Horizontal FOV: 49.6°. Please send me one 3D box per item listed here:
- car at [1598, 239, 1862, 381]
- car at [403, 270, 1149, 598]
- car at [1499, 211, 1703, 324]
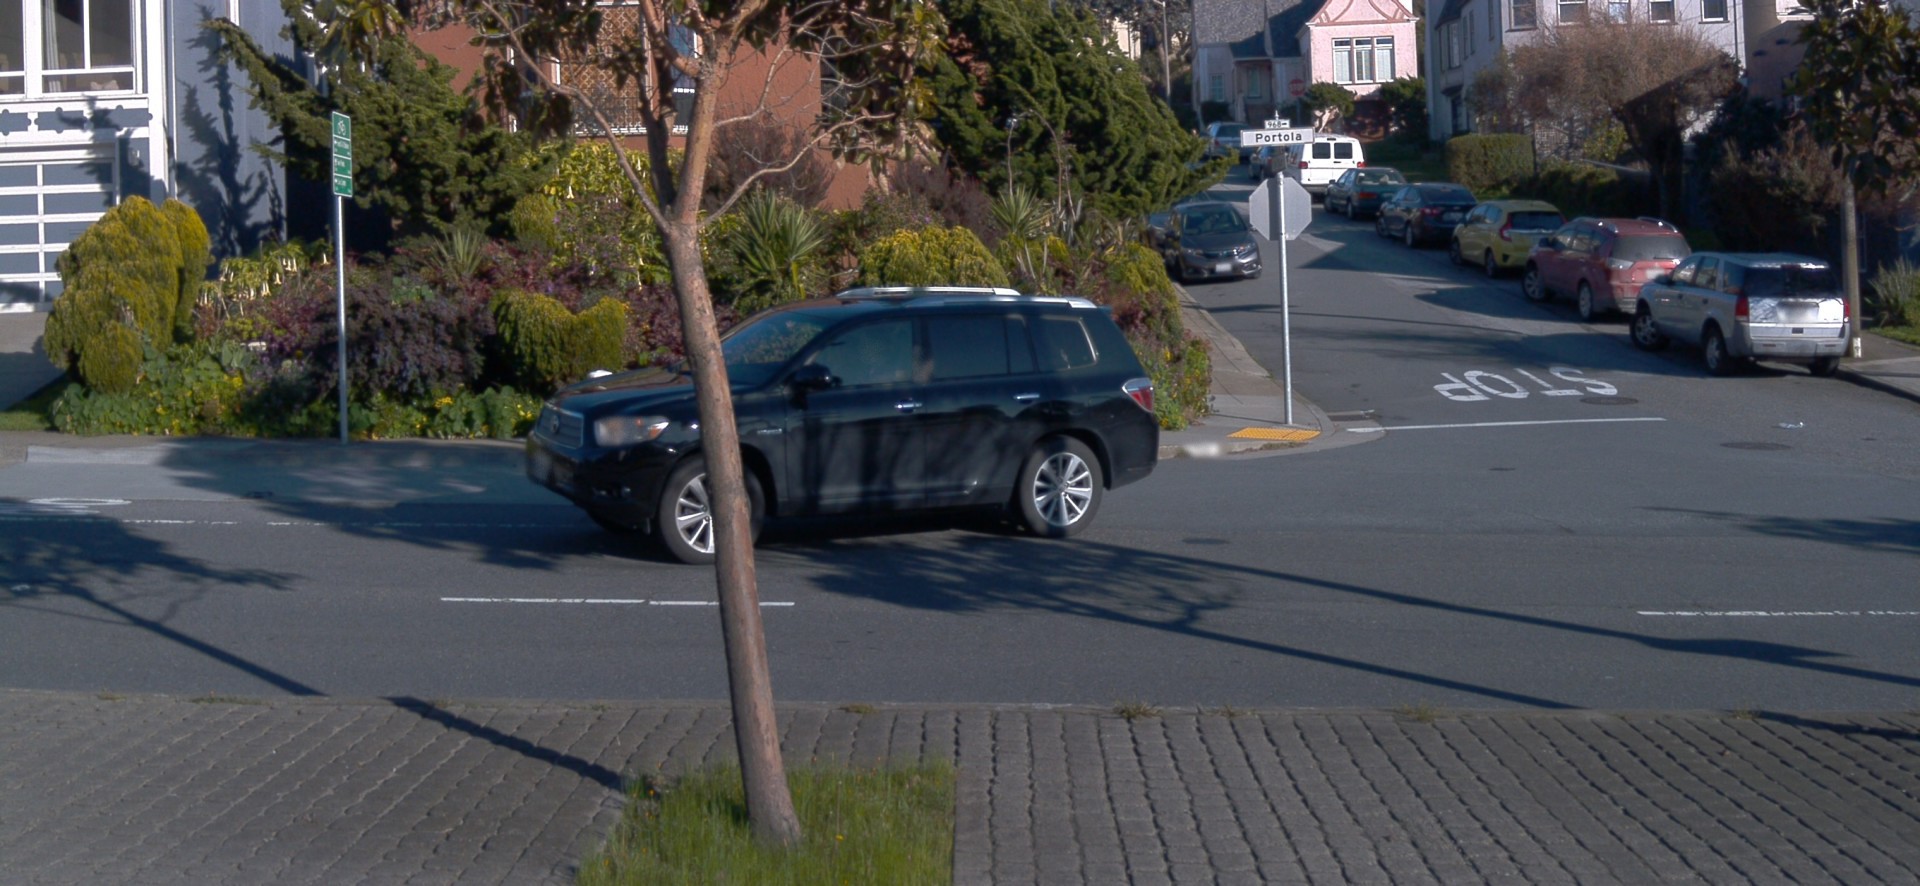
[{"bbox_3d":[11.181,-2.027,30.519,2.050,1.831,4.510,1,6,-3],"label":"car"},{"bbox_3d":[-1.237,-0.231,14.674,4.847,1.893,2.055,-3,5,-31],"label":"car"},{"bbox_3d":[11.185,-3.143,36.535,2.062,1.831,4.222,1,6,-4],"label":"car"}]
